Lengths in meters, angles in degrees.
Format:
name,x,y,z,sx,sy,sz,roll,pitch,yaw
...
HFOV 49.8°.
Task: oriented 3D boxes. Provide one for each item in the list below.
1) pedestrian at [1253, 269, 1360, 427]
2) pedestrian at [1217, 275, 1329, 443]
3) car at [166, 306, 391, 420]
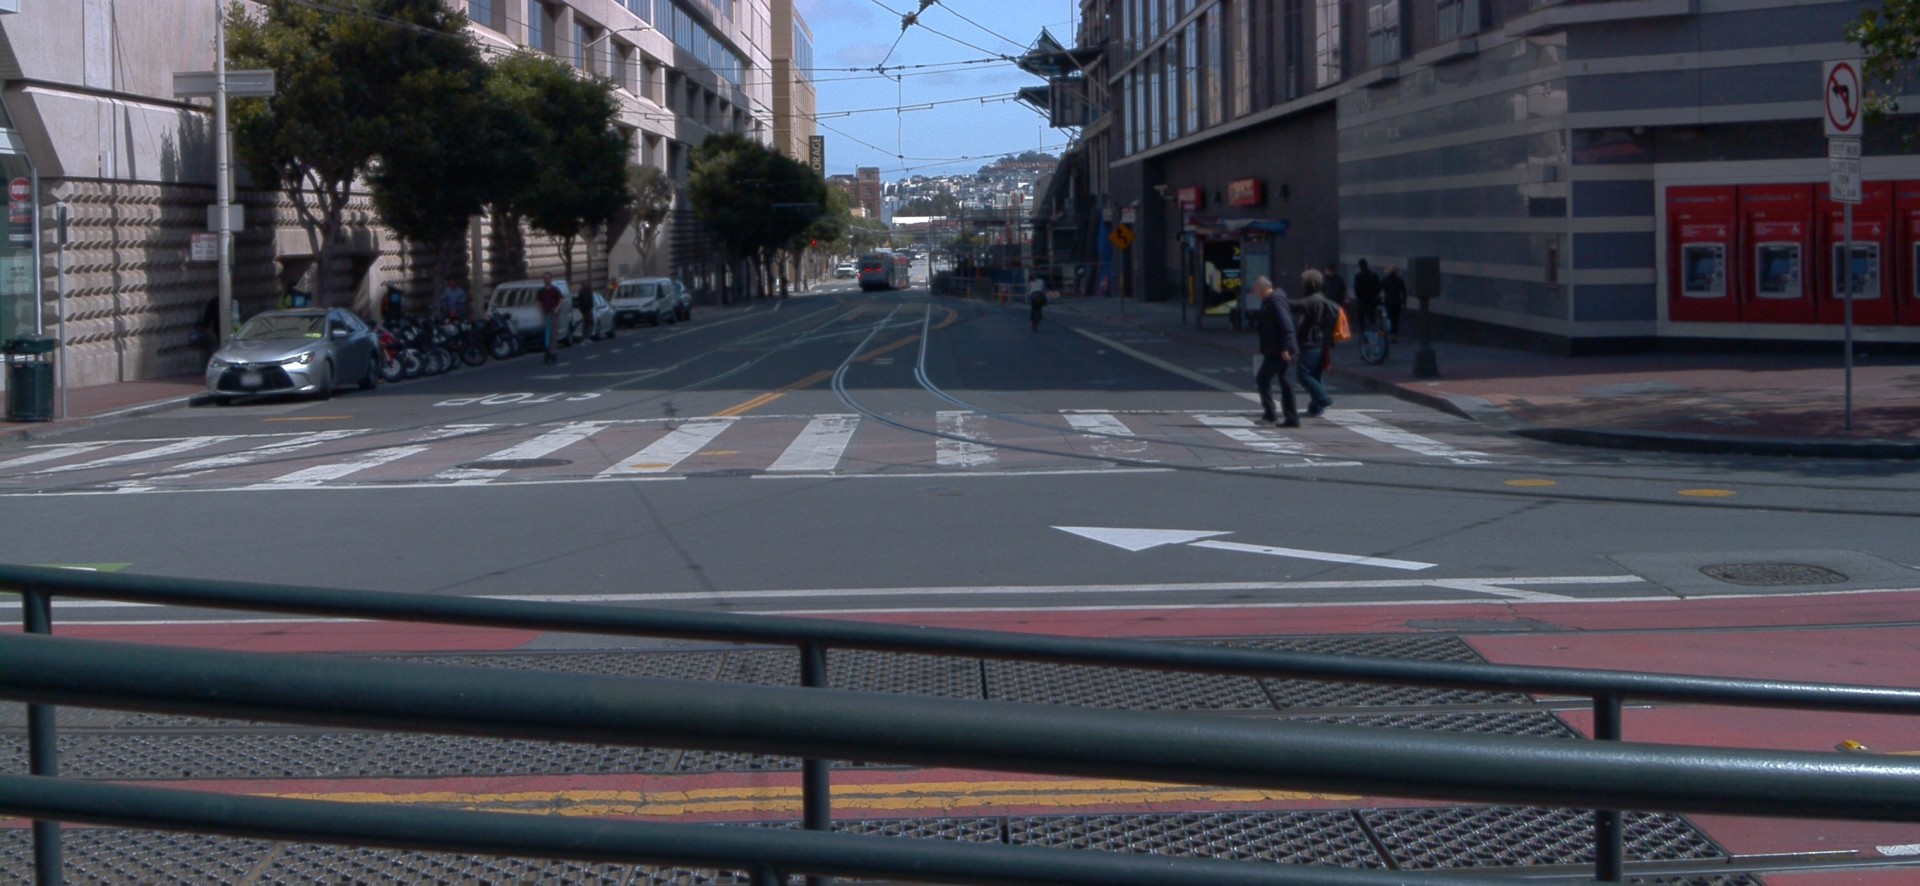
name,x,y,z,sx,sy,sz,roll,pitch,yaw
pedestrian,4.050,-1.137,24.252,1.155,1.766,1.190,0,3,6
pedestrian,3.415,-0.938,22.615,1.094,1.766,0.864,-1,2,1
car,-11.148,-1.385,34.204,2.160,1.492,4.838,-1,6,-1
